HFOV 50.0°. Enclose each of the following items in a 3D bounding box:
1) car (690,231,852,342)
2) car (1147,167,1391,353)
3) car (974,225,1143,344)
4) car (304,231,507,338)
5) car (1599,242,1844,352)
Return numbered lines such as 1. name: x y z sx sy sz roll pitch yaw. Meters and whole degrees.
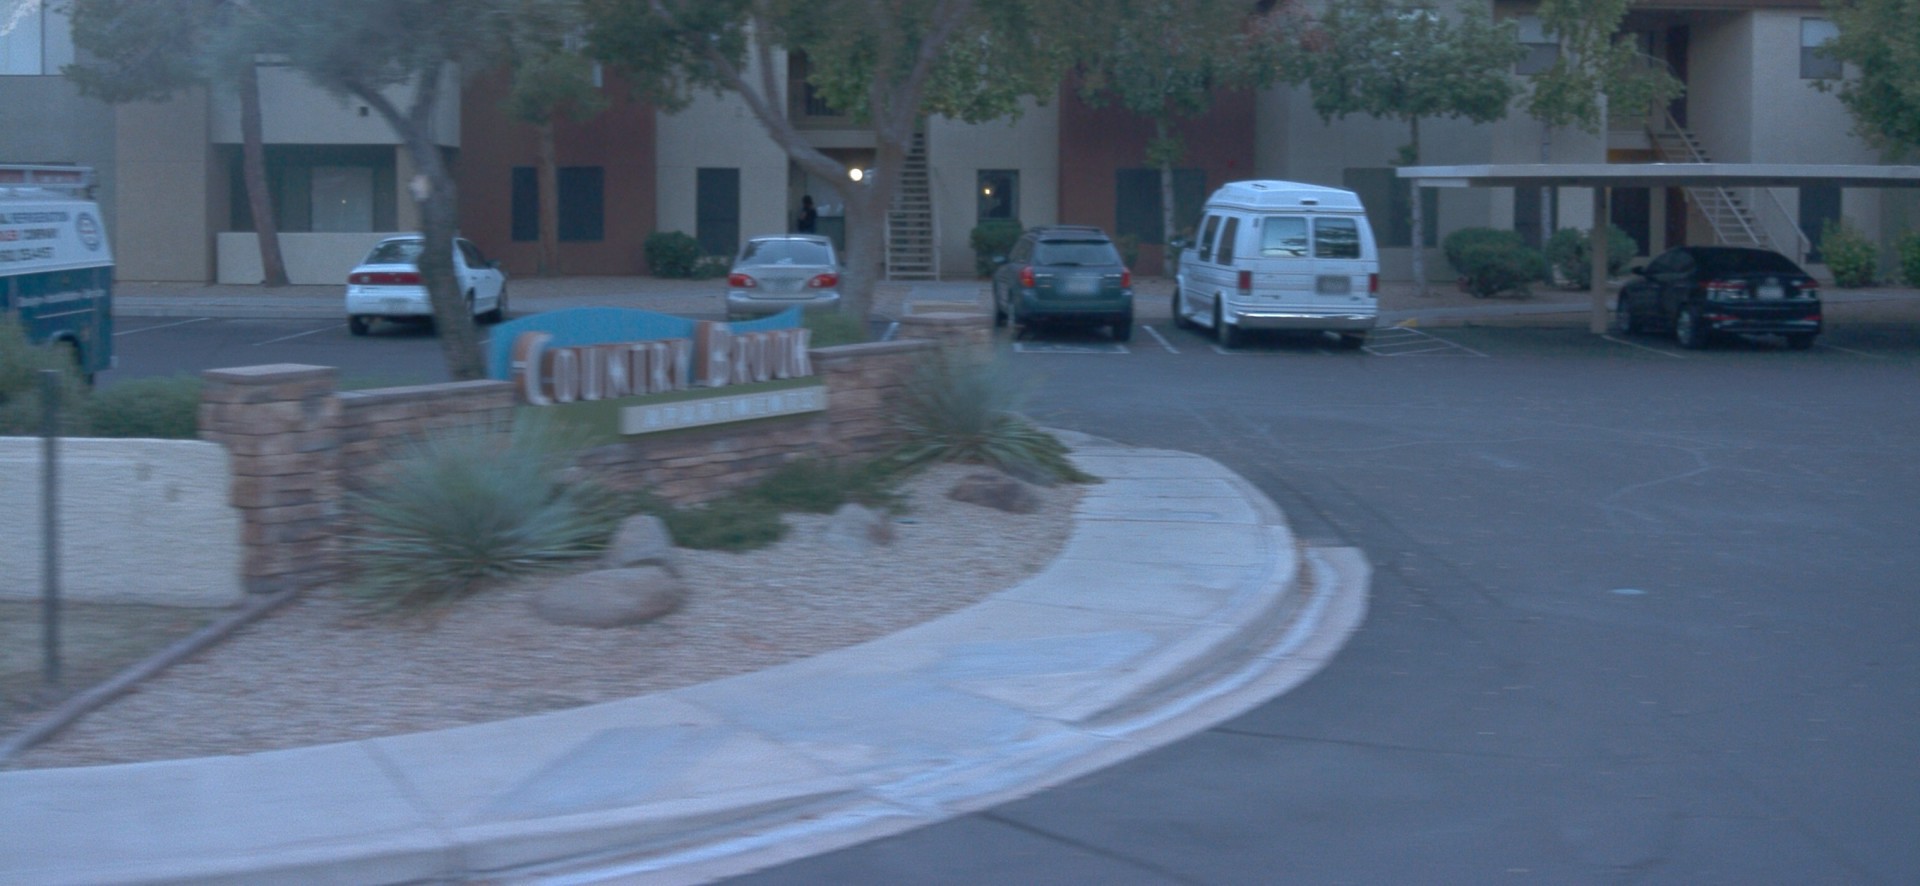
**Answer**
1. car: -2.684 -2.367 30.307 2.039 1.493 4.686 0 5 -1
2. car: 4.322 -2.686 29.839 2.459 2.430 5.399 0 5 -3
3. car: 1.359 -2.401 30.414 2.053 1.613 4.621 0 5 -3
4. car: -8.045 -2.385 30.300 1.976 1.434 4.448 0 5 -3
5. car: 10.929 -2.179 29.915 1.931 1.444 4.308 0 5 -1
